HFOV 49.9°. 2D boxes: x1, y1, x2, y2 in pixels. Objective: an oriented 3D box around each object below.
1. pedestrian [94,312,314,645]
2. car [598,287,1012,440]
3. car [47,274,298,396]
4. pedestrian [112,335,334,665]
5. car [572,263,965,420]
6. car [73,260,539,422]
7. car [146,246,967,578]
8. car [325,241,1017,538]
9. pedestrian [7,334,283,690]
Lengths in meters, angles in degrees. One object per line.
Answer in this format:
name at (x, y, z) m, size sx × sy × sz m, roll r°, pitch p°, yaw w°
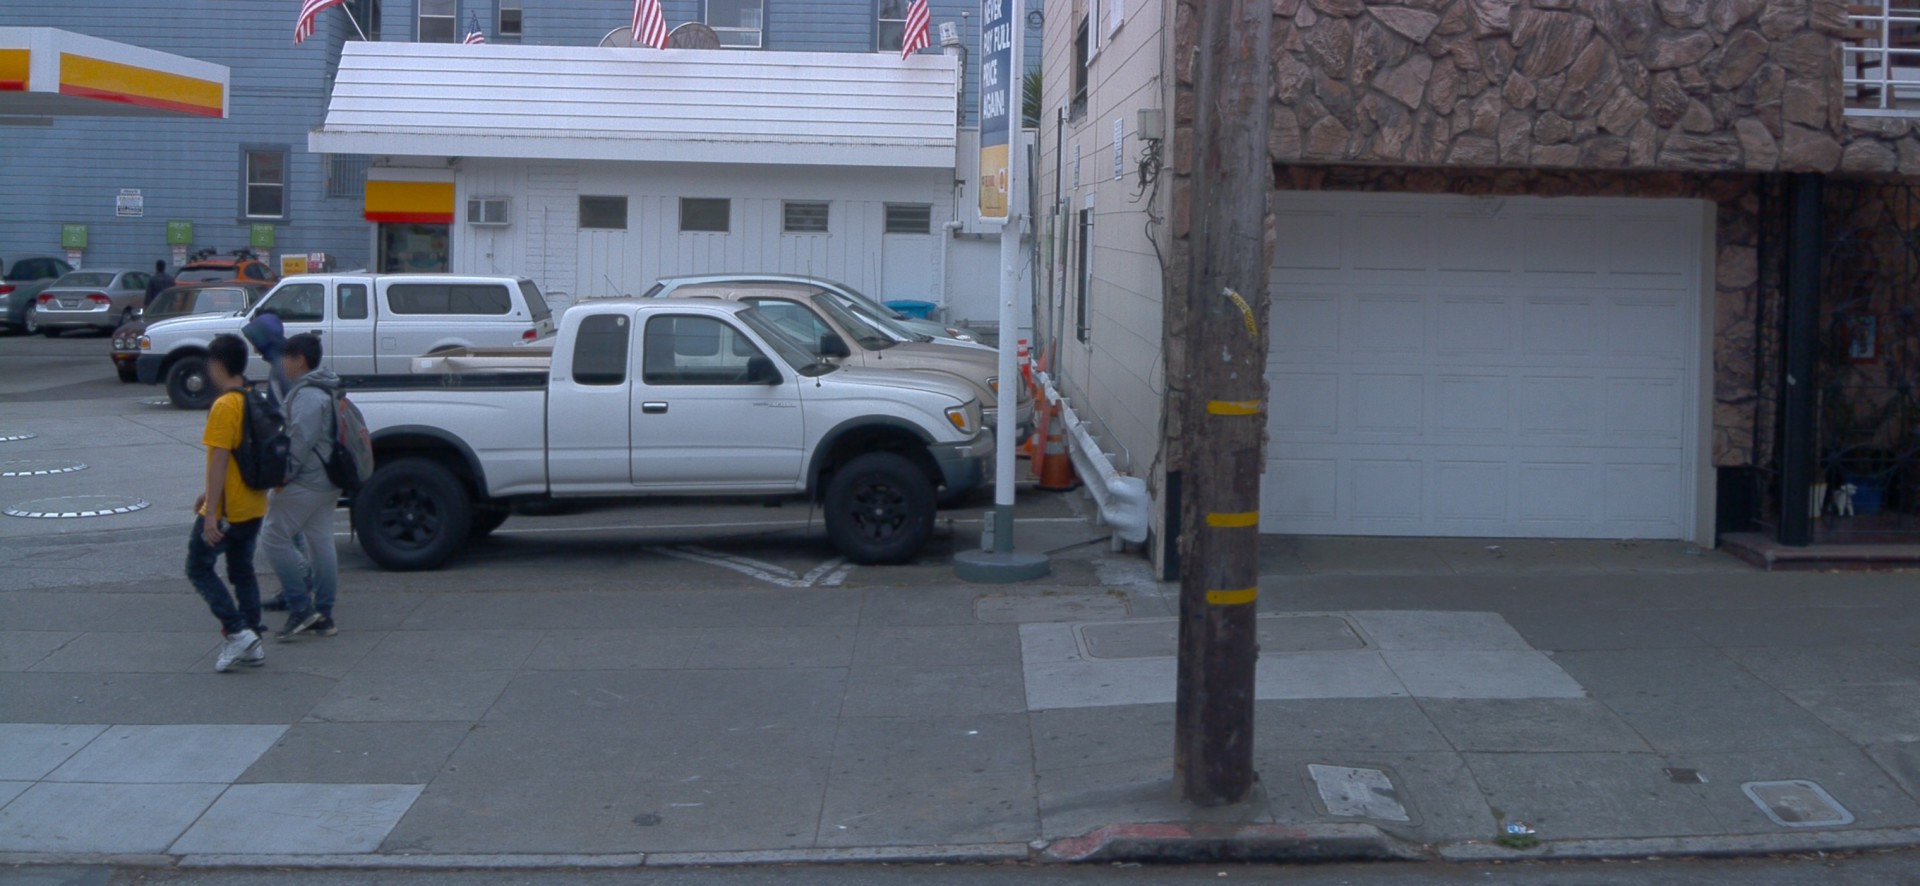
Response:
pedestrian at (-4.359, 0.176, 11.953) m, size 0.956 × 1.827 × 0.789 m, roll 0°, pitch 2°, yaw 1°
car at (-1.697, -0.961, 23.969) m, size 4.601 × 1.604 × 2.120 m, roll 0°, pitch 5°, yaw 1°
car at (-11.874, -1.734, 31.522) m, size 2.140 × 1.511 × 5.249 m, roll -1°, pitch 6°, yaw -4°
pedestrian at (-4.019, 0.283, 11.307) m, size 0.907 × 1.697 × 0.775 m, roll 0°, pitch 2°, yaw 1°
car at (-2.339, -1.330, 26.238) m, size 4.775 × 1.824 × 2.089 m, roll 0°, pitch 4°, yaw 0°
car at (-8.074, -1.328, 25.908) m, size 5.180 × 1.834 × 2.197 m, roll -1°, pitch 4°, yaw -4°
car at (-2.544, -0.288, 14.004) m, size 5.167 × 2.024 × 1.952 m, roll 0°, pitch 4°, yaw 0°
car at (-2.175, -0.513, 16.690) m, size 5.202 × 2.163 × 2.238 m, roll 0°, pitch 4°, yaw 0°
pedestrian at (-4.196, 0.321, 10.683) m, size 1.058 × 1.717 × 0.828 m, roll 0°, pitch 2°, yaw 4°
